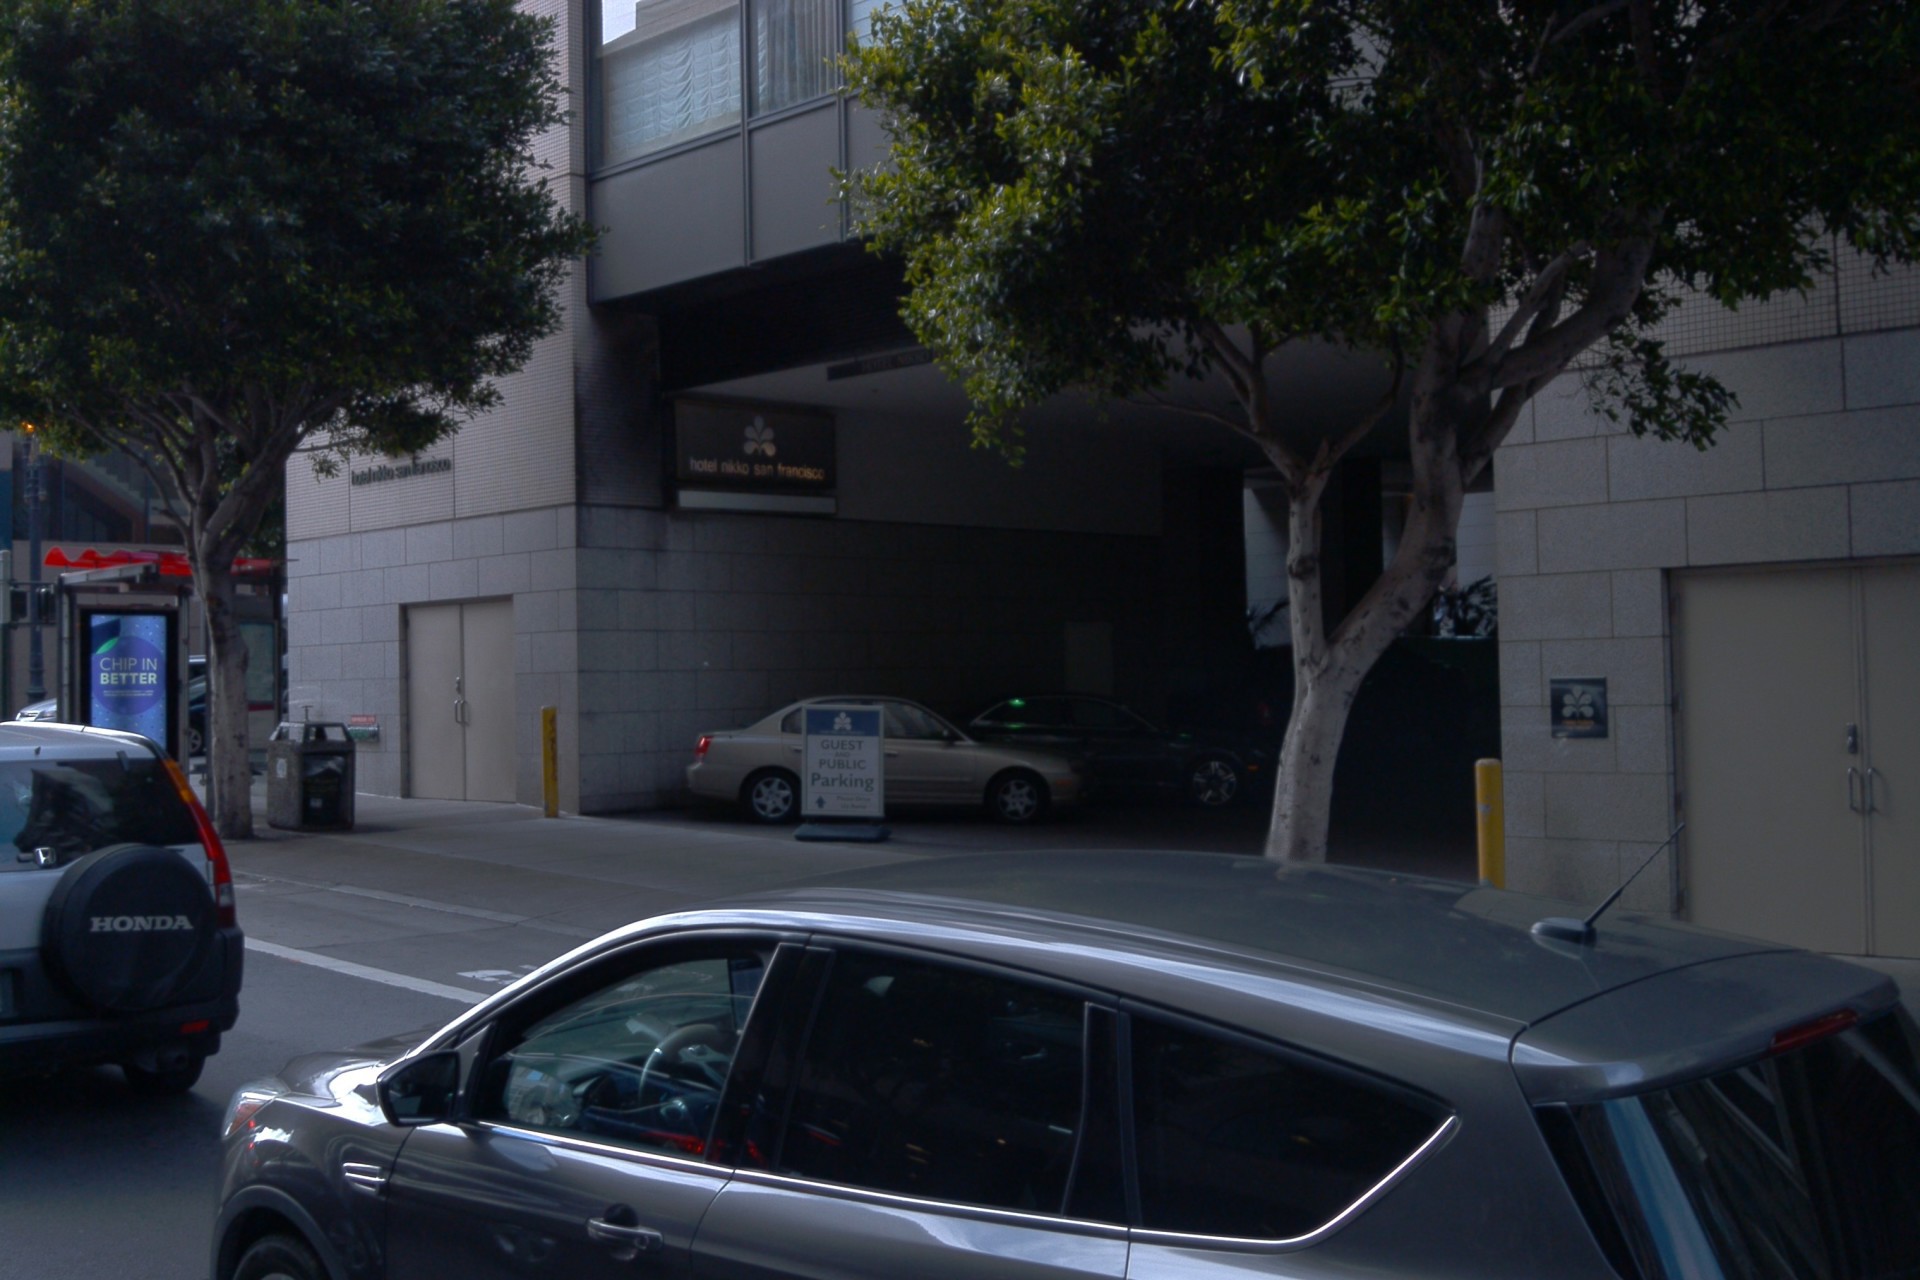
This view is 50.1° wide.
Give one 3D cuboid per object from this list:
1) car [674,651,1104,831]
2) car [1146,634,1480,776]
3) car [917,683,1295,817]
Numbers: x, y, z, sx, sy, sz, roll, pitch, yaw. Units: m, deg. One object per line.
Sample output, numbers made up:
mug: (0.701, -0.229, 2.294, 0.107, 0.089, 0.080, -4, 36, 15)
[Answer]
car: (-0.757, 1.071, 22.613, 4.538, 1.860, 1.771, 0, 0, 0)
car: (5.577, 0.921, 31.956, 5.637, 1.970, 2.175, -1, 1, -44)
car: (1.725, 1.316, 25.124, 4.429, 1.500, 1.858, 0, 0, 1)
